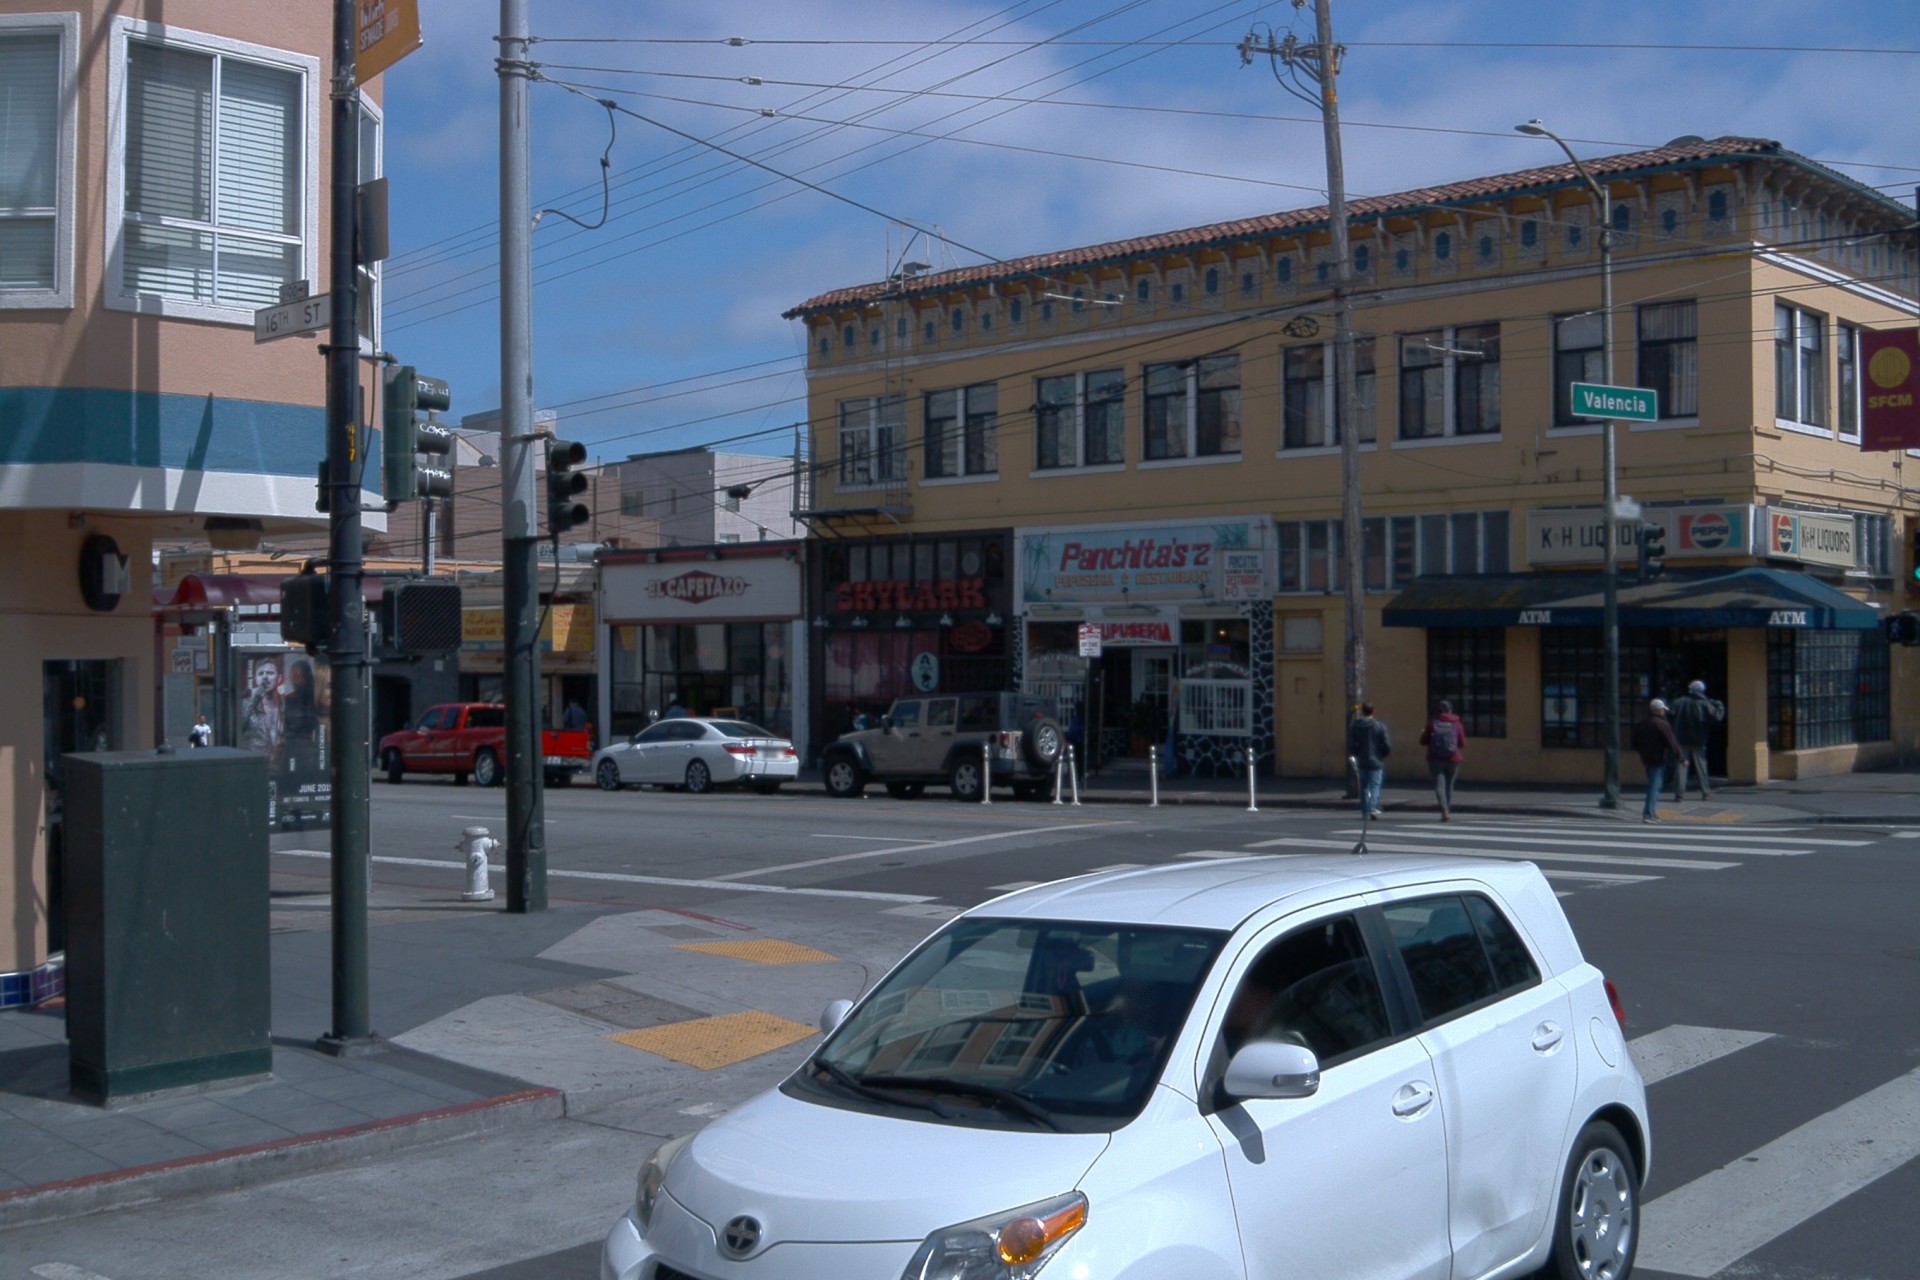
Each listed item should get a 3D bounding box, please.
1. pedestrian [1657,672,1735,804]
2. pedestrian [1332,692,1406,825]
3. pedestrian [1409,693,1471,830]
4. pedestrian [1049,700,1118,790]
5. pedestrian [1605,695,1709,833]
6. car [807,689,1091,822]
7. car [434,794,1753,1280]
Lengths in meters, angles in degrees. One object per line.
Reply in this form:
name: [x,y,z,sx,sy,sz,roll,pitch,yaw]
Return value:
pedestrian: [10.497,1.386,29.449,0.904,1.850,0.714,0,1,6]
pedestrian: [5.236,1.501,26.395,0.882,1.630,0.914,0,1,13]
pedestrian: [6.048,1.518,26.037,0.747,1.650,0.861,0,1,12]
pedestrian: [2.205,1.856,36.724,0.956,1.530,0.768,0,1,38]
pedestrian: [9.167,1.611,27.138,1.084,1.730,0.796,-1,1,-34]
car: [-0.251,1.895,35.189,4.715,1.960,2.025,1,1,43]
car: [0.651,1.454,6.216,1.942,1.610,3.896,1,1,43]
